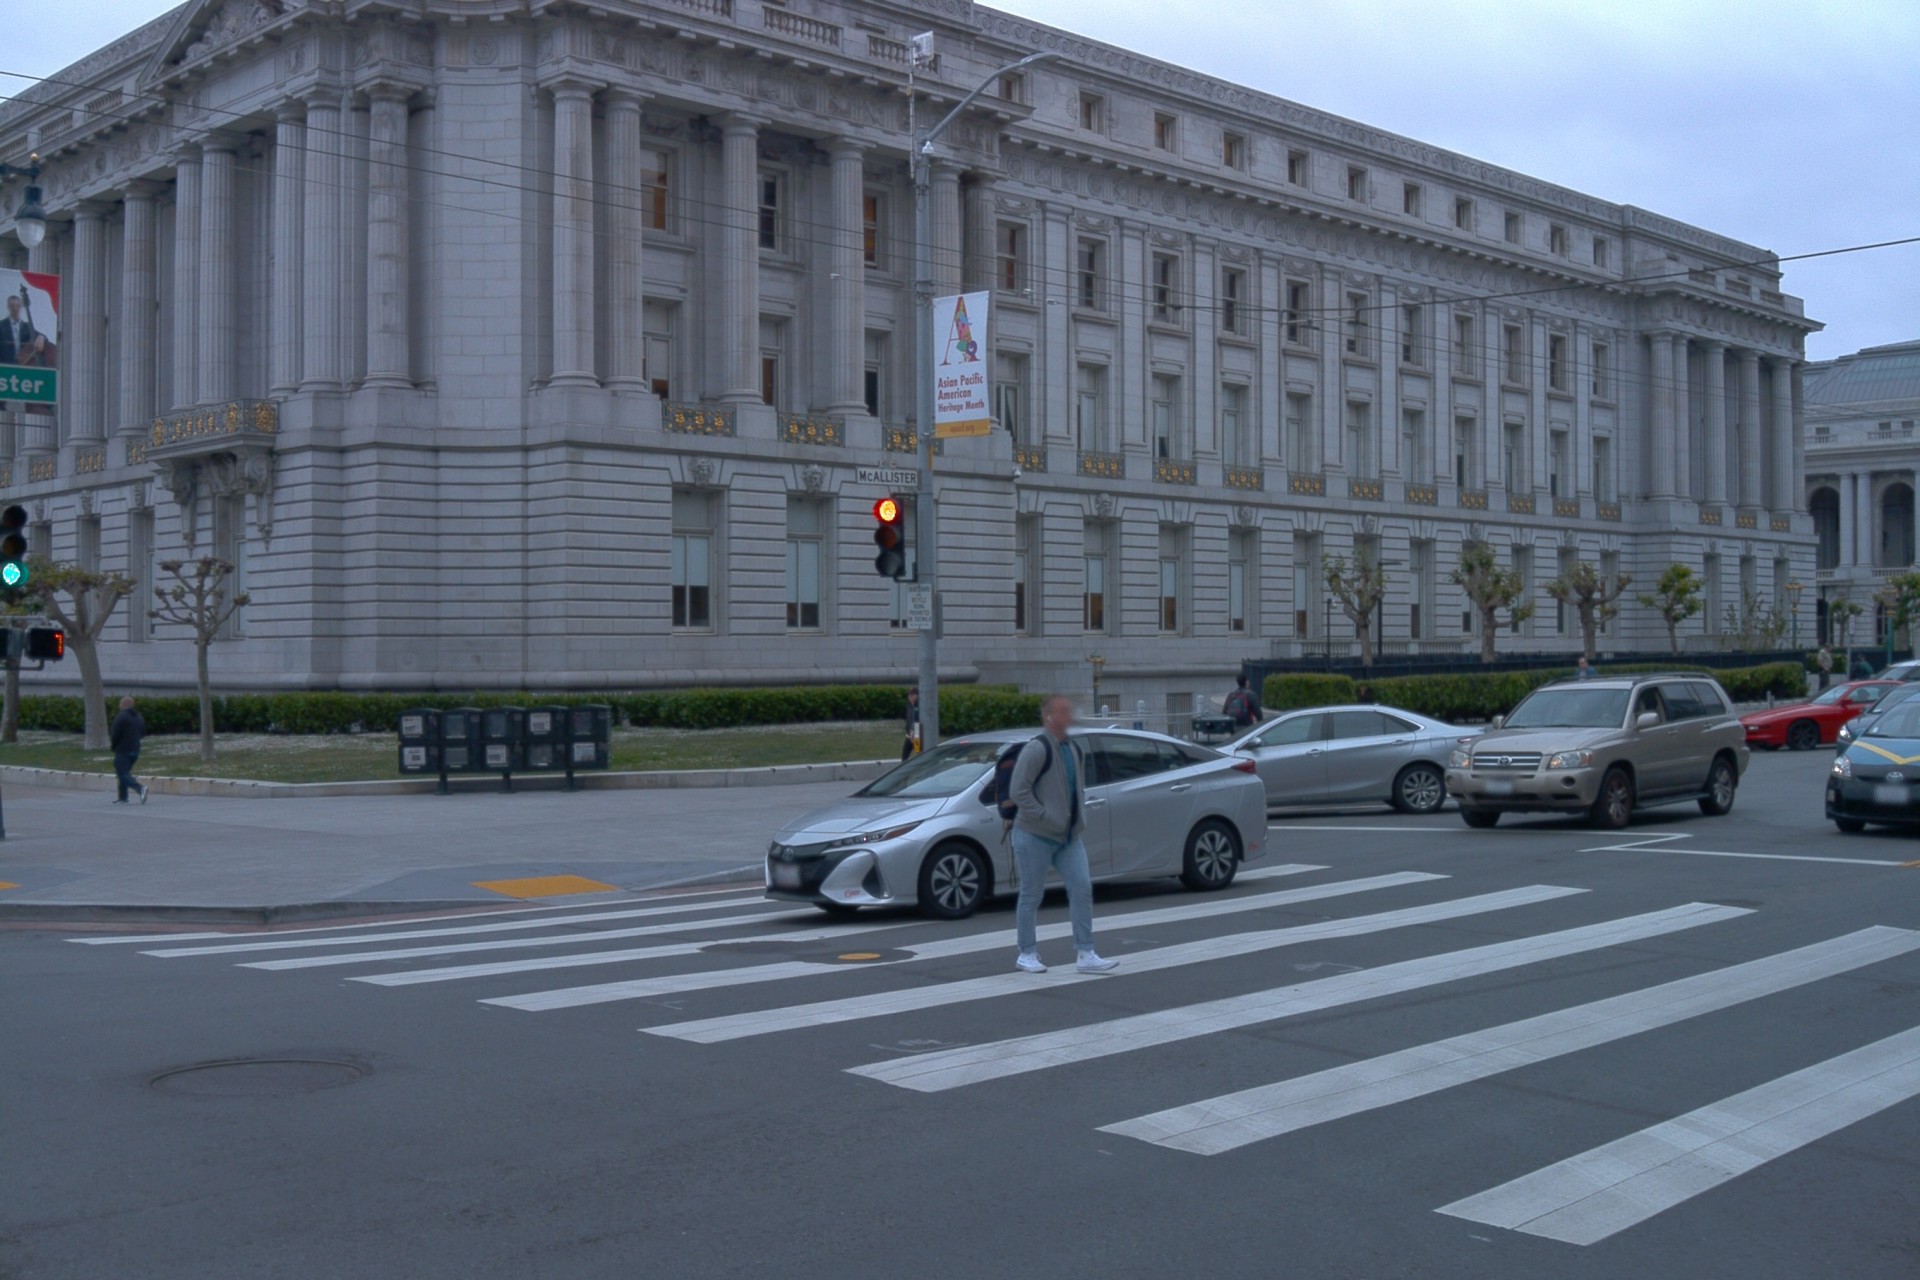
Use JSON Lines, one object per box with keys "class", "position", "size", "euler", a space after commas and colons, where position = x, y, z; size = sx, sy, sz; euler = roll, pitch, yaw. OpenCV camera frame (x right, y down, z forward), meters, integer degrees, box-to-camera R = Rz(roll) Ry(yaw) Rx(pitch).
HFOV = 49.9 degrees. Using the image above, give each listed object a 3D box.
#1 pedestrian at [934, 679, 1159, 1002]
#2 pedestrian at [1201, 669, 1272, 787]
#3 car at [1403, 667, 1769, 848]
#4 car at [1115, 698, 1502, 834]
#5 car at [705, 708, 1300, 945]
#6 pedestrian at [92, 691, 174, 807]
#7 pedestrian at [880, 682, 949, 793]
{"class": "pedestrian", "position": [0.526, 1.186, 12.759], "size": [0.805, 1.850, 1.160], "euler": [-1, 1, -41]}
{"class": "pedestrian", "position": [4.468, 1.410, 33.385], "size": [0.806, 1.850, 0.871], "euler": [0, 1, 38]}
{"class": "car", "position": [7.441, 1.269, 24.287], "size": [2.180, 1.800, 4.766], "euler": [1, 1, 44]}
{"class": "car", "position": [4.573, 1.652, 27.770], "size": [4.904, 1.667, 2.106], "euler": [0, 1, 4]}
{"class": "car", "position": [0.440, 1.439, 17.370], "size": [4.667, 1.540, 2.142], "euler": [0, 1, -37]}
{"class": "pedestrian", "position": [-12.914, 1.689, 32.270], "size": [0.919, 1.757, 0.757], "euler": [0, 1, 16]}
{"class": "pedestrian", "position": [-0.715, 1.511, 32.420], "size": [0.673, 1.681, 0.864], "euler": [1, 1, 42]}
